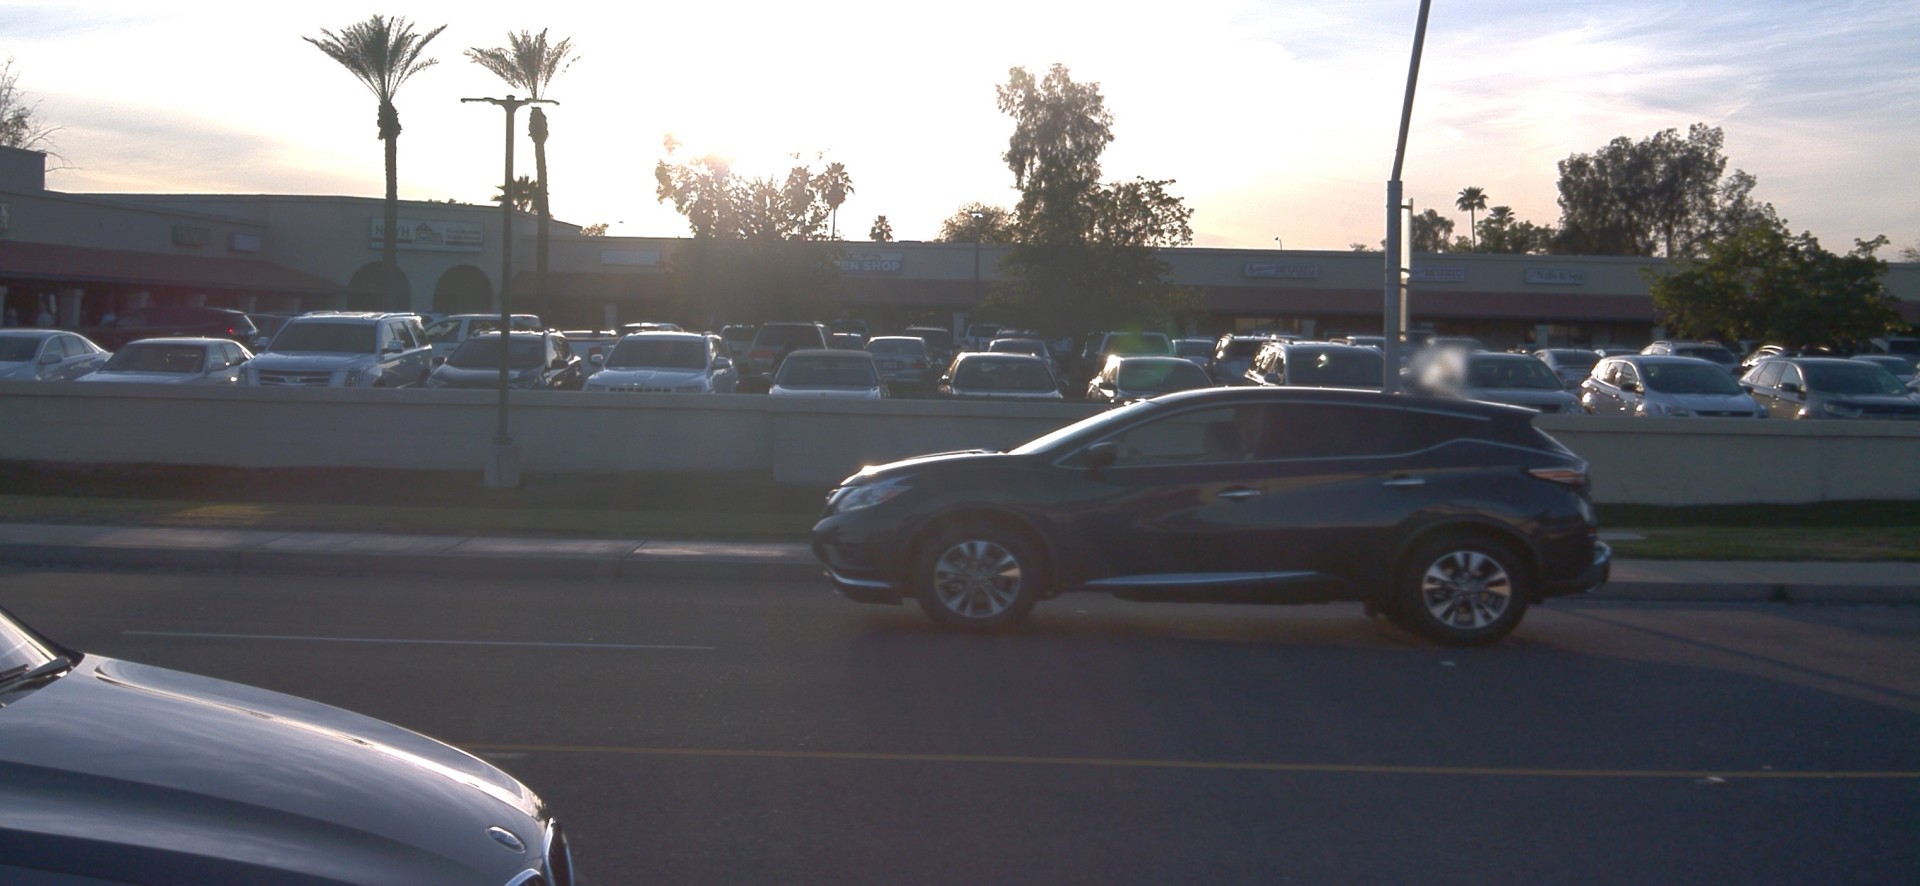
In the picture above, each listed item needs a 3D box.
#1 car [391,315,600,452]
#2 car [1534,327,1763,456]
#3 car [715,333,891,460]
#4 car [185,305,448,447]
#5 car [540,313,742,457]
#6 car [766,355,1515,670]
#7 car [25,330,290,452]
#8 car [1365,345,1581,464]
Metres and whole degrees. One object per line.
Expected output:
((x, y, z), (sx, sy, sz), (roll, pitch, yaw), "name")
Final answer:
((-7.344, -1.038, 32.939), (2.176, 1.855, 4.709), (1, 4, 1), "car")
((10.844, -0.898, 32.649), (2.161, 1.695, 4.603), (1, 5, 1), "car")
((-2.446, -0.843, 33.403), (2.348, 1.655, 5.224), (1, 5, 1), "car")
((-10.147, -1.177, 32.894), (2.420, 1.884, 5.665), (1, 5, 0), "car")
((-5.005, -1.030, 33.045), (2.282, 1.914, 5.653), (1, 5, 1), "car")
((1.174, 0.399, 14.230), (4.783, 1.819, 2.081), (1, 3, 0), "car")
((-12.753, -0.906, 32.944), (2.285, 1.585, 4.751), (1, 5, 1), "car")
((8.140, -0.697, 33.028), (2.299, 1.505, 4.982), (1, 5, 1), "car")
